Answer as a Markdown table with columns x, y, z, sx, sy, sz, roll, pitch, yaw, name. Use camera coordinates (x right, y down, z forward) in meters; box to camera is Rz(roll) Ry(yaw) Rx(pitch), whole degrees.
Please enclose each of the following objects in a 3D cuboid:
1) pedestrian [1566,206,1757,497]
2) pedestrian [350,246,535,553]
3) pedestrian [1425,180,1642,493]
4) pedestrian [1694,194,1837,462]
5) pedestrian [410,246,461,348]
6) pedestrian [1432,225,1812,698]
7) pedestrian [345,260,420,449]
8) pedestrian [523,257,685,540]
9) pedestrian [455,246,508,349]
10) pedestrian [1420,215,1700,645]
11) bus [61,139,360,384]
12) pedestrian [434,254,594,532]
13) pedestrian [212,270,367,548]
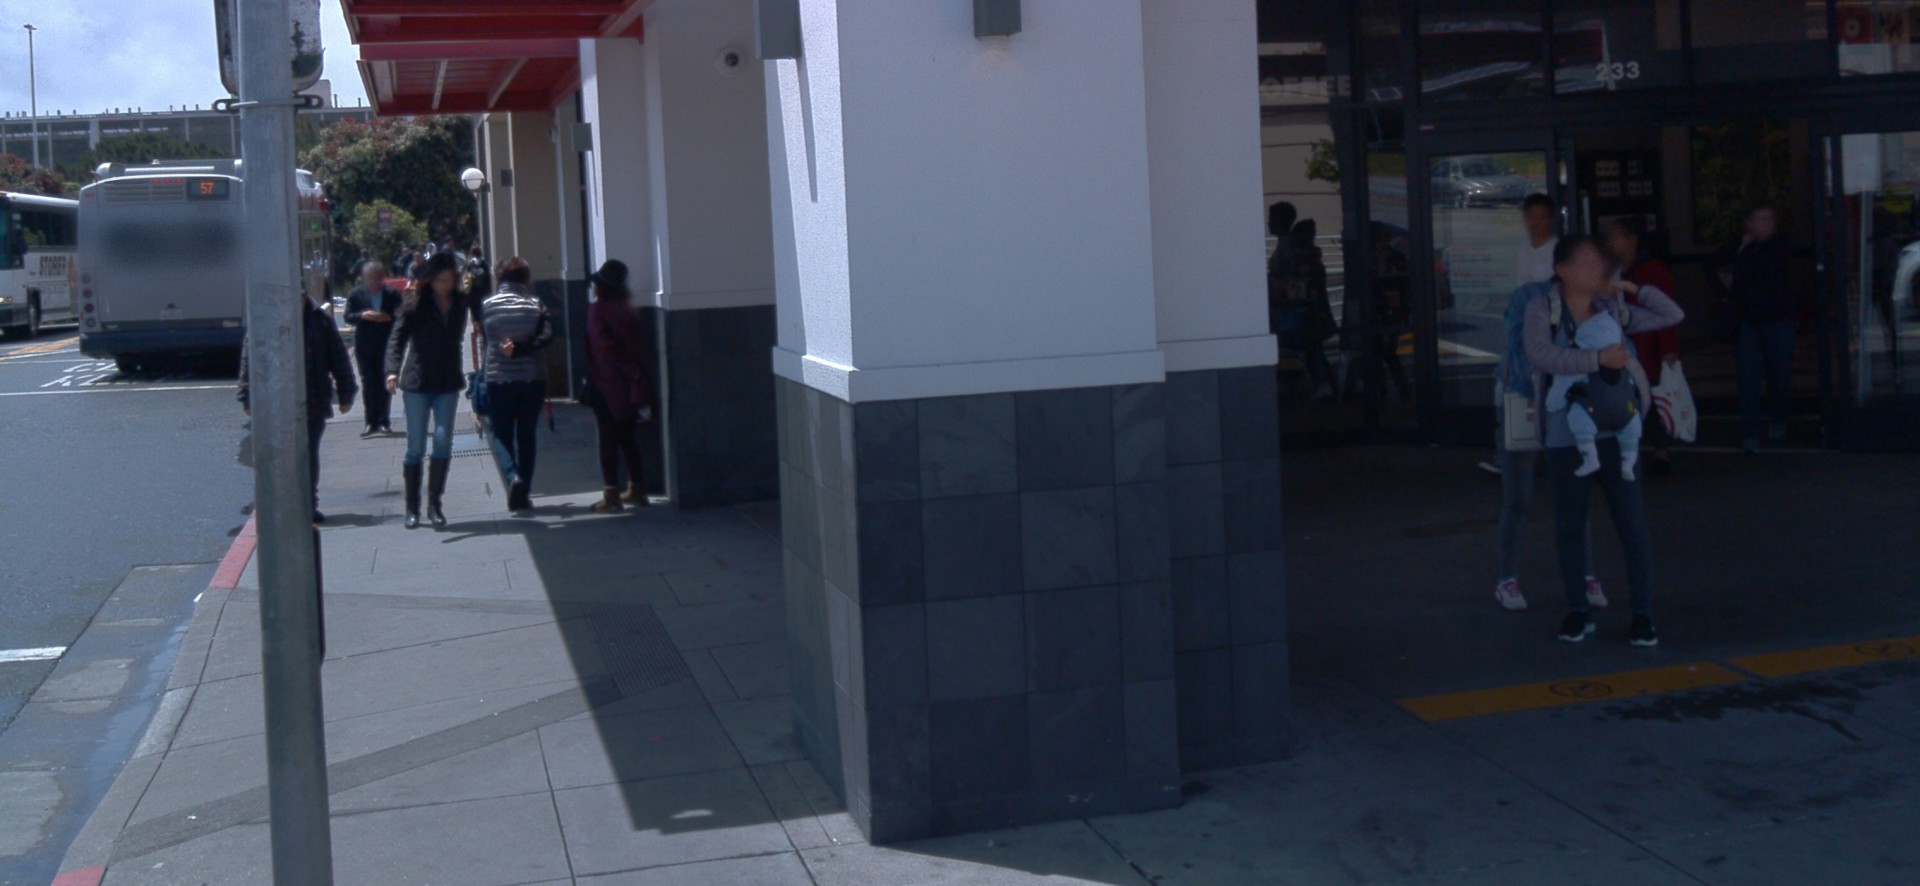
| x | y | z | sx | sy | sz | roll | pitch | yaw | name |
| --- | --- | --- | --- | --- | --- | --- | --- | --- | --- |
| 4.107 | -0.565 | 12.041 | 0.752 | 1.629 | 0.768 | -1 | 1 | -37 | pedestrian |
| -3.188 | -0.315 | 12.632 | 0.829 | 1.789 | 0.936 | -1 | 2 | -34 | pedestrian |
| 3.519 | -0.686 | 12.631 | 0.954 | 1.829 | 0.881 | -1 | 2 | -35 | pedestrian |
| 5.145 | -0.762 | 13.176 | 0.780 | 1.649 | 0.894 | 0 | 1 | 16 | pedestrian |
| -9.094 | -2.549 | 35.634 | 0.838 | 1.729 | 0.984 | 0 | 2 | -14 | pedestrian |
| 2.523 | 0.008 | 7.968 | 1.072 | 1.699 | 1.066 | 0 | 2 | -5 | pedestrian |
| -5.413 | -0.852 | 19.245 | 0.653 | 1.719 | 0.809 | 0 | 1 | -17 | pedestrian |
| -2.236 | -0.316 | 12.860 | 0.815 | 1.679 | 0.819 | -1 | 1 | -25 | pedestrian |
| -7.910 | -2.420 | 33.983 | 0.840 | 1.659 | 0.886 | 0 | 1 | -14 | pedestrian |
| 2.481 | -0.103 | 8.582 | 0.824 | 1.689 | 0.882 | 0 | 1 | -10 | pedestrian |
| -12.700 | -3.298 | 36.358 | 3.025 | 3.395 | 15.283 | -1 | 5 | -13 | bus |
| -2.866 | -0.357 | 13.164 | 0.887 | 1.699 | 0.832 | -1 | 1 | -21 | pedestrian |
| -4.340 | -0.258 | 13.366 | 0.889 | 1.719 | 0.873 | 0 | 1 | -14 | pedestrian |
